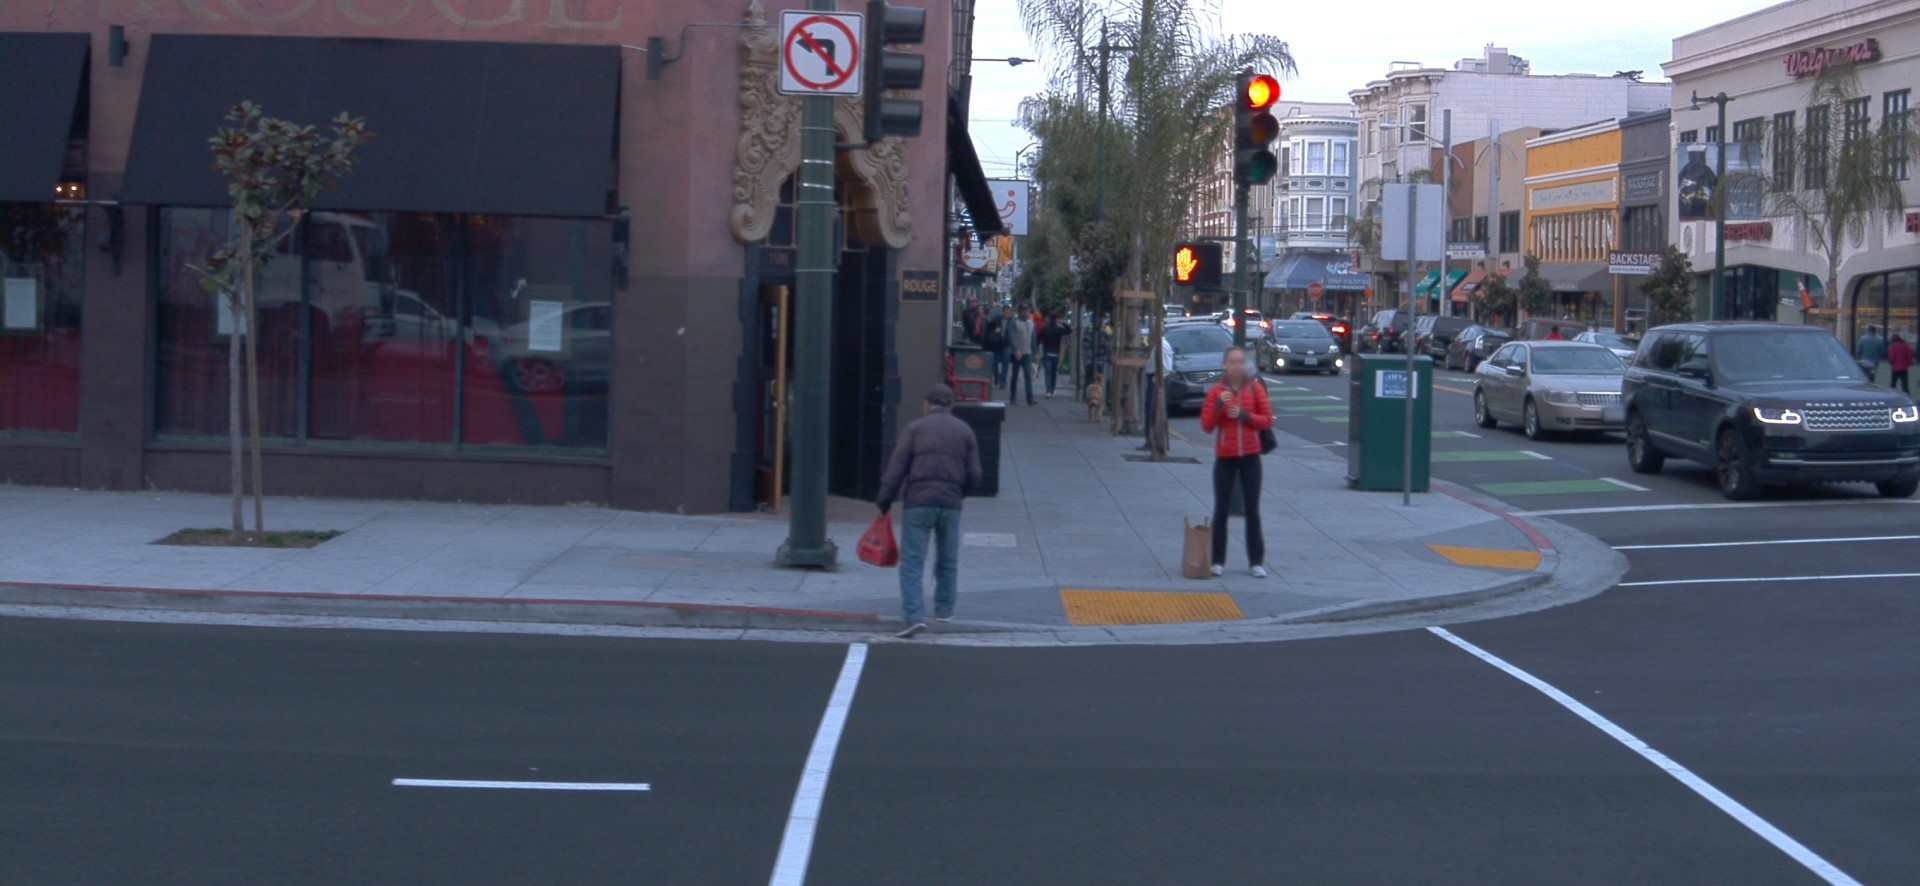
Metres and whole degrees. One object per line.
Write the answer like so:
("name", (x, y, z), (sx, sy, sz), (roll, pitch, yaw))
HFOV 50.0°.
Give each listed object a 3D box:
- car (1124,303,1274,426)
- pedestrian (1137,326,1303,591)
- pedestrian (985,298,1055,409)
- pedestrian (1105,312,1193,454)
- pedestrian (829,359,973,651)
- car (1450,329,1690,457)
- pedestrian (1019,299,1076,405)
("car", (4.362, -1.525, 38.308), (2.175, 1.910, 4.798), (0, 6, -1))
("pedestrian", (1.928, 0.086, 15.414), (1.068, 1.874, 0.867), (0, 2, -5))
("pedestrian", (1.059, -1.599, 36.465), (1.011, 1.895, 0.915), (0, 3, -15))
("pedestrian", (2.433, -0.793, 26.484), (0.881, 1.726, 1.029), (1, 3, 20))
("pedestrian", (-0.351, 0.354, 12.760), (0.853, 1.676, 0.921), (0, 3, 0))
("car", (8.971, -0.822, 30.766), (2.078, 1.472, 4.879), (0, 6, -1))
("pedestrian", (1.689, -1.757, 39.509), (1.046, 1.945, 1.137), (0, 3, 4))
